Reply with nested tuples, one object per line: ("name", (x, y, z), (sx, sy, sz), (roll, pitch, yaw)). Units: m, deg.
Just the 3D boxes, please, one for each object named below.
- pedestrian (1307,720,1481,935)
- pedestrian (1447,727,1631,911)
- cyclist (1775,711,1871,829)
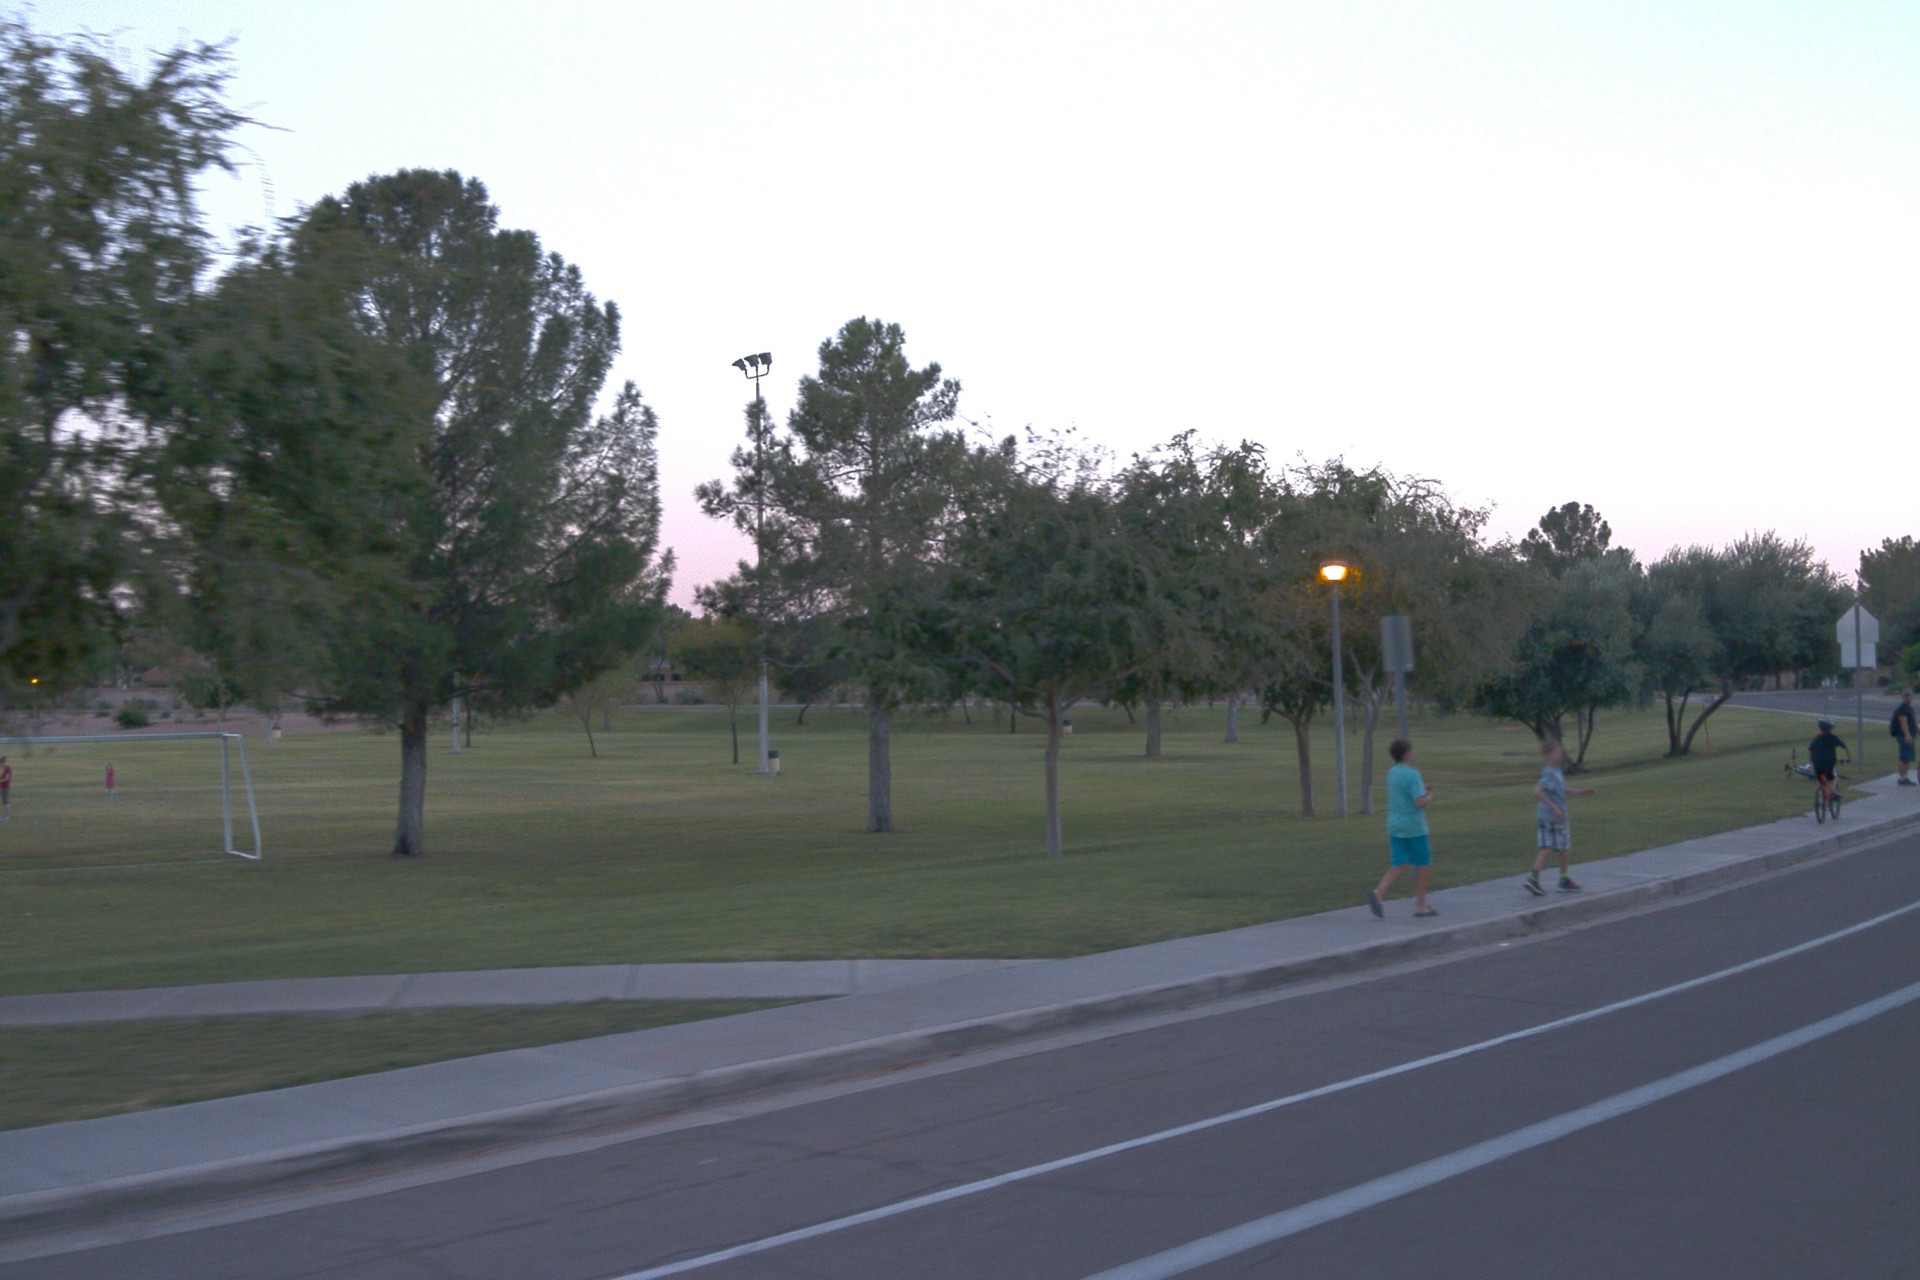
("pedestrian", (3.660, 1.544, 17.596), (0.990, 1.680, 1.119), (0, 0, 43))
("pedestrian", (5.351, 1.615, 19.308), (1.291, 1.560, 1.086), (1, 0, -40))
("cyclist", (11.453, 1.700, 27.690), (0.772, 1.460, 1.641), (0, 0, 37))
